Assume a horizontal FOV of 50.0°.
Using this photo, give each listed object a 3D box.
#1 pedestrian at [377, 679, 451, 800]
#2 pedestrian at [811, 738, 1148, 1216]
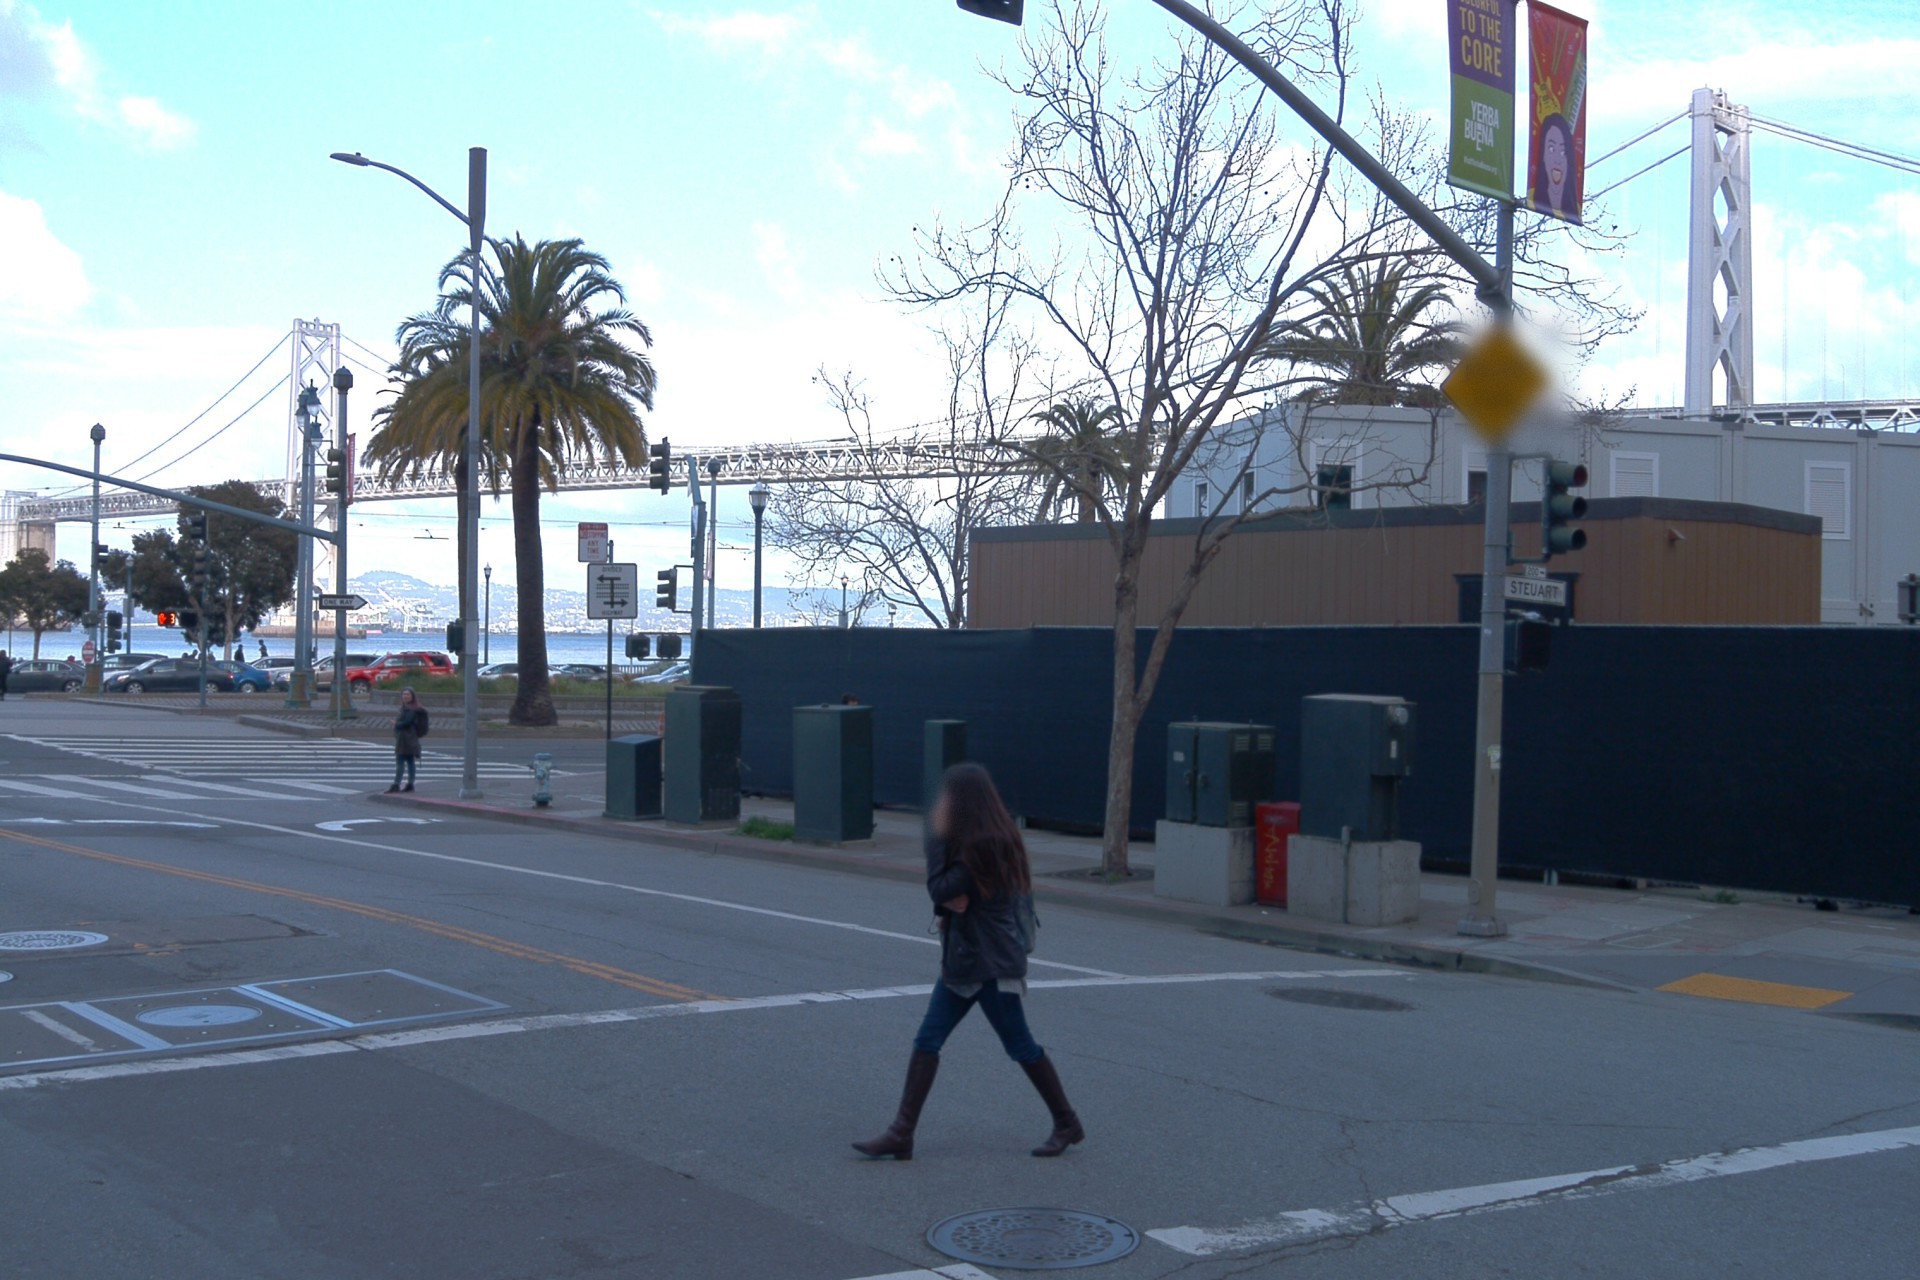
[{"bbox_3d":[-8.426,1.515,31.737,0.841,1.790,0.831,-1,1,-38],"label":"pedestrian"},{"bbox_3d":[0.067,1.294,8.331,1.092,1.720,0.848,0,1,-27],"label":"pedestrian"}]
